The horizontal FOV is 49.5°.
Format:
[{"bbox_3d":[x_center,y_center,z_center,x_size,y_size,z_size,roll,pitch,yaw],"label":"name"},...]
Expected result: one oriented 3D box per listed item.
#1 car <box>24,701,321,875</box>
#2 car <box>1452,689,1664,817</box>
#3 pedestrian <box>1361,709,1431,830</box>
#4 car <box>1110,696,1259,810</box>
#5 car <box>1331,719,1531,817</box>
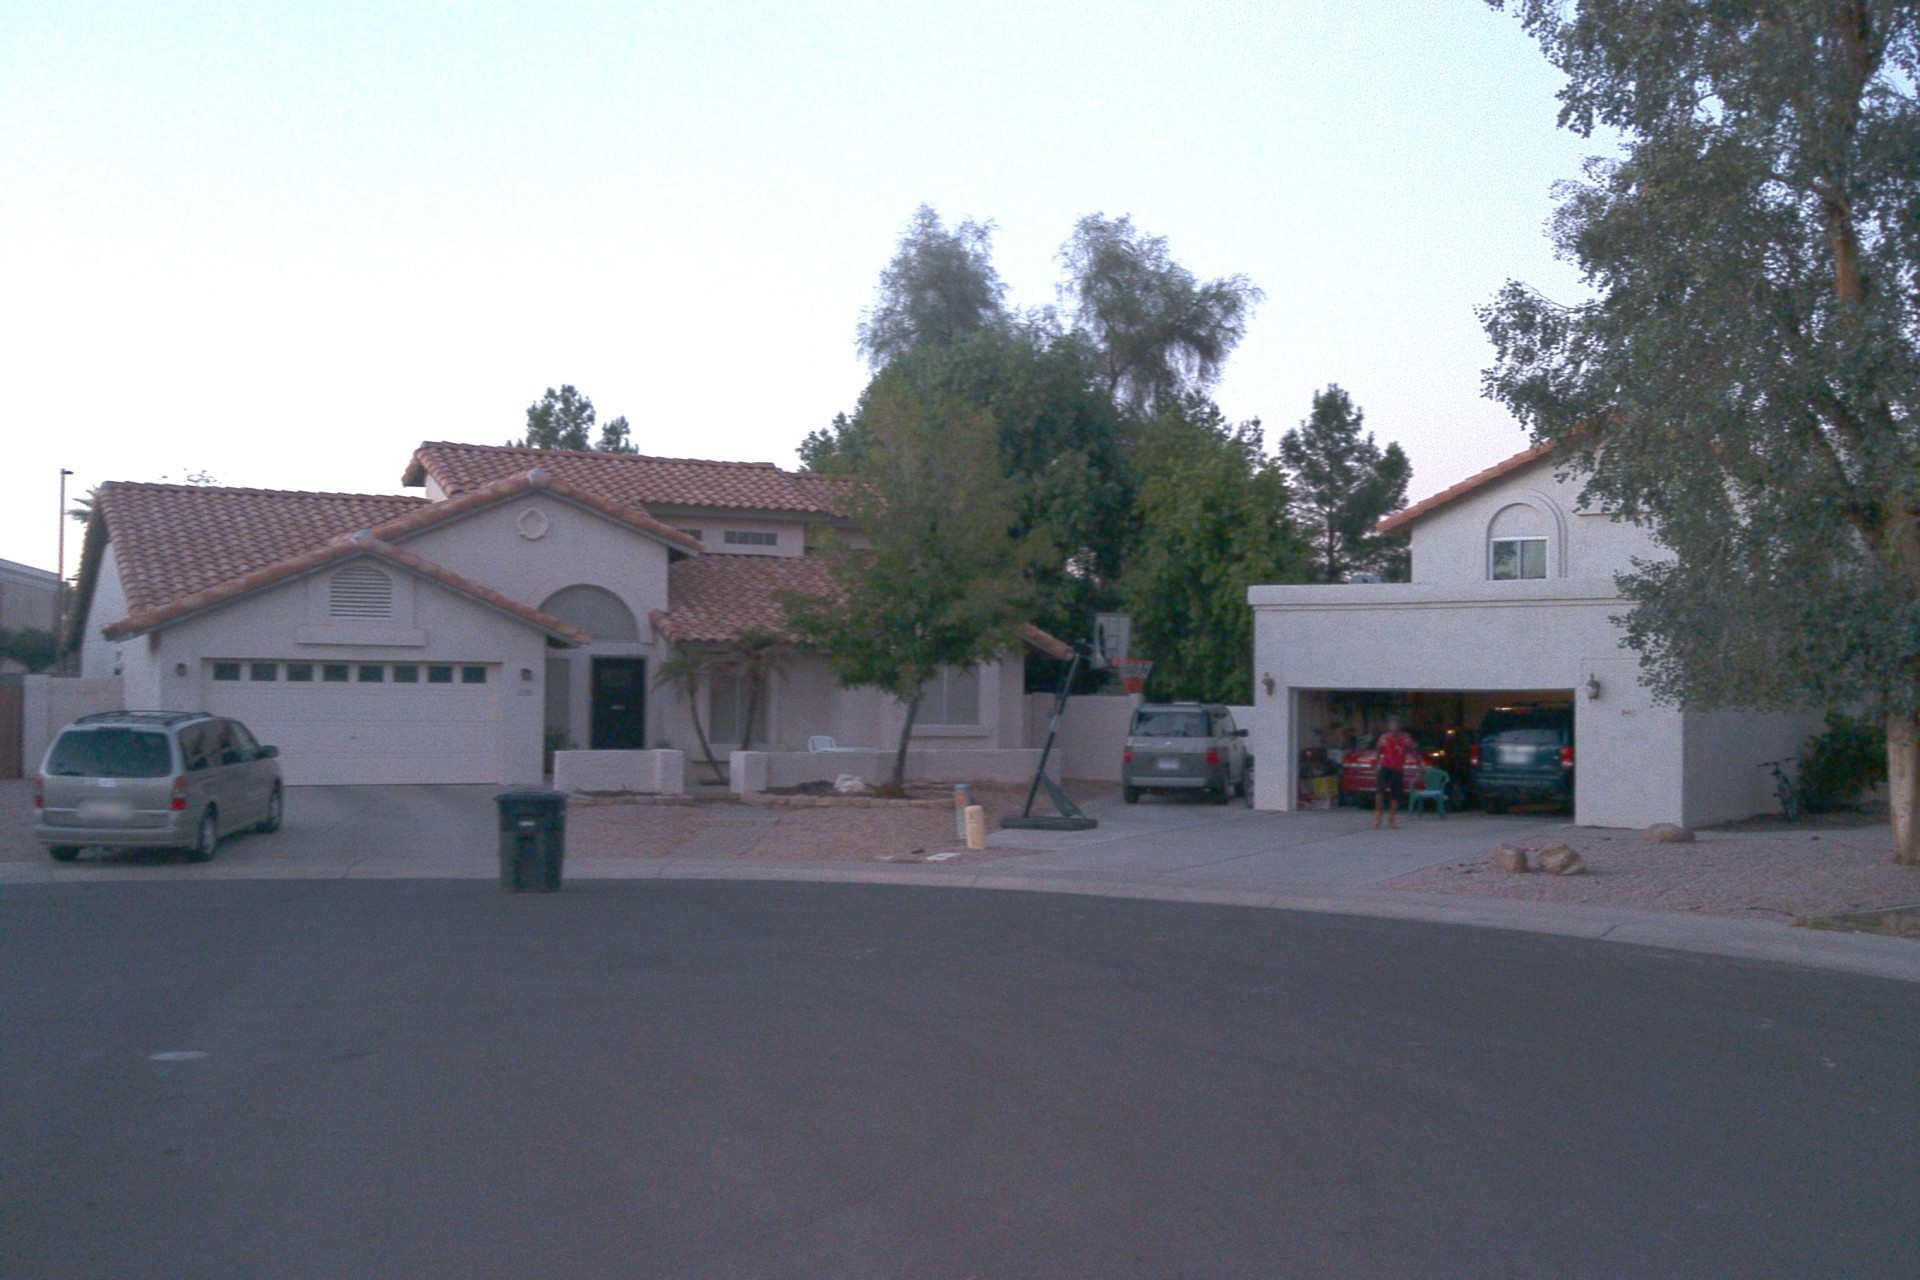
[{"bbox_3d":[-9.773,1.768,26.320,2.087,1.940,4.991,1,-2,-4],"label":"car"},{"bbox_3d":[9.965,1.836,34.521,1.951,1.960,3.935,0,-2,39],"label":"car"},{"bbox_3d":[6.525,1.925,31.186,0.980,1.750,0.980,1,-2,10],"label":"pedestrian"},{"bbox_3d":[4.138,2.002,37.769,1.967,1.900,4.087,1,-2,16],"label":"car"},{"bbox_3d":[8.117,2.152,35.684,1.794,1.540,3.848,0,-2,39],"label":"car"}]
